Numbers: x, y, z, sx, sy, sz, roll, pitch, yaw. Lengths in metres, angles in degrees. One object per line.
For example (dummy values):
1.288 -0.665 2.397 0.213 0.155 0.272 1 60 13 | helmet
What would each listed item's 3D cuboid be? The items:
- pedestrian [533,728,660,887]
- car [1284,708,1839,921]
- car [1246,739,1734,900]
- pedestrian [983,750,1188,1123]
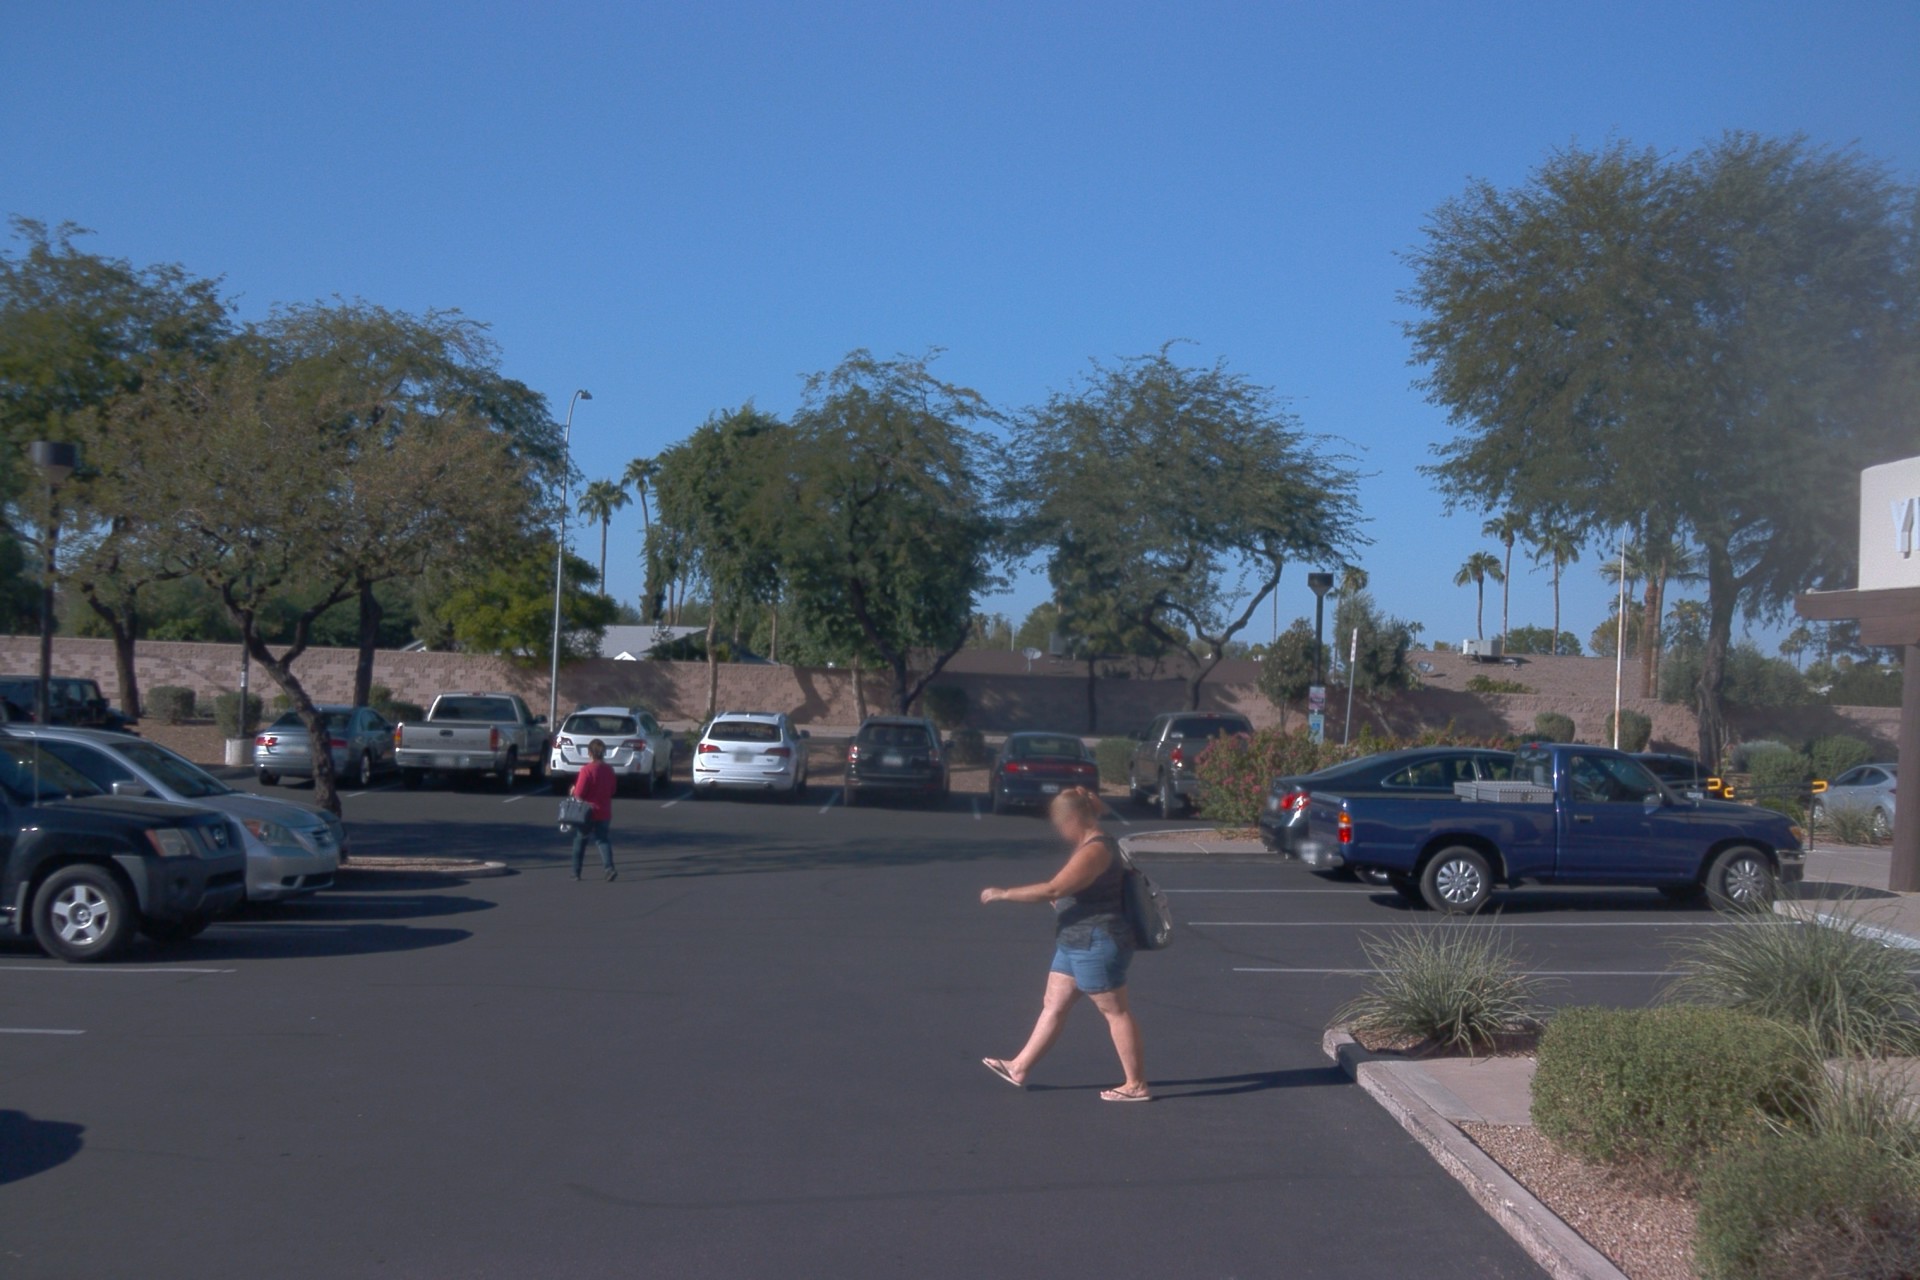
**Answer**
-4.048 1.836 23.073 0.982 1.680 1.039 1 -1 -39 | pedestrian
5.642 1.626 19.898 4.685 1.860 2.091 1 -1 -2 | car
5.680 1.926 22.647 4.780 1.570 2.041 1 -1 -2 | car
0.610 1.452 10.449 0.962 1.750 0.926 1 -1 1 | pedestrian
